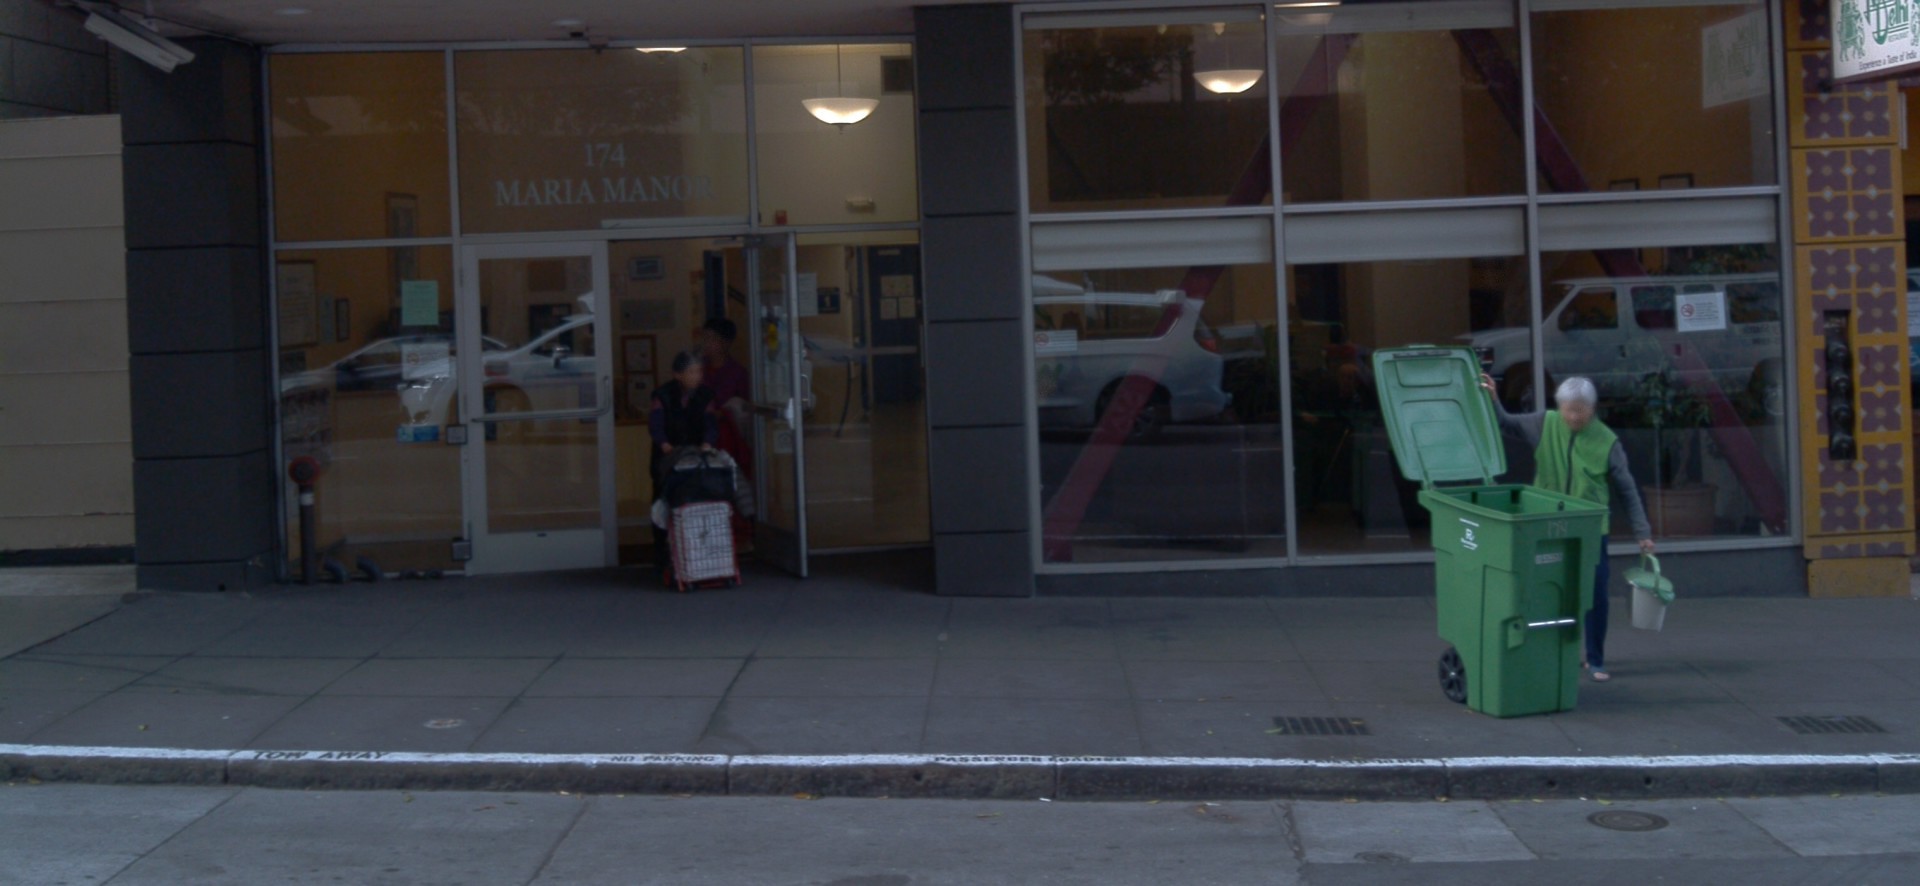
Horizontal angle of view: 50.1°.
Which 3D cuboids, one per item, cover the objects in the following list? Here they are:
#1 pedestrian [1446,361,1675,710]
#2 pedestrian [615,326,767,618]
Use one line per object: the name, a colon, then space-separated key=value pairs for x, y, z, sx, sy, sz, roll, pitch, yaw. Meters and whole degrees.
pedestrian: x=2.910 y=0.415 z=10.039 sx=1.020 sy=1.579 sz=0.696 roll=0 pitch=1 yaw=12
pedestrian: x=-1.678 y=0.130 z=12.694 sx=0.669 sy=1.639 sz=1.262 roll=0 pitch=2 yaw=-20
